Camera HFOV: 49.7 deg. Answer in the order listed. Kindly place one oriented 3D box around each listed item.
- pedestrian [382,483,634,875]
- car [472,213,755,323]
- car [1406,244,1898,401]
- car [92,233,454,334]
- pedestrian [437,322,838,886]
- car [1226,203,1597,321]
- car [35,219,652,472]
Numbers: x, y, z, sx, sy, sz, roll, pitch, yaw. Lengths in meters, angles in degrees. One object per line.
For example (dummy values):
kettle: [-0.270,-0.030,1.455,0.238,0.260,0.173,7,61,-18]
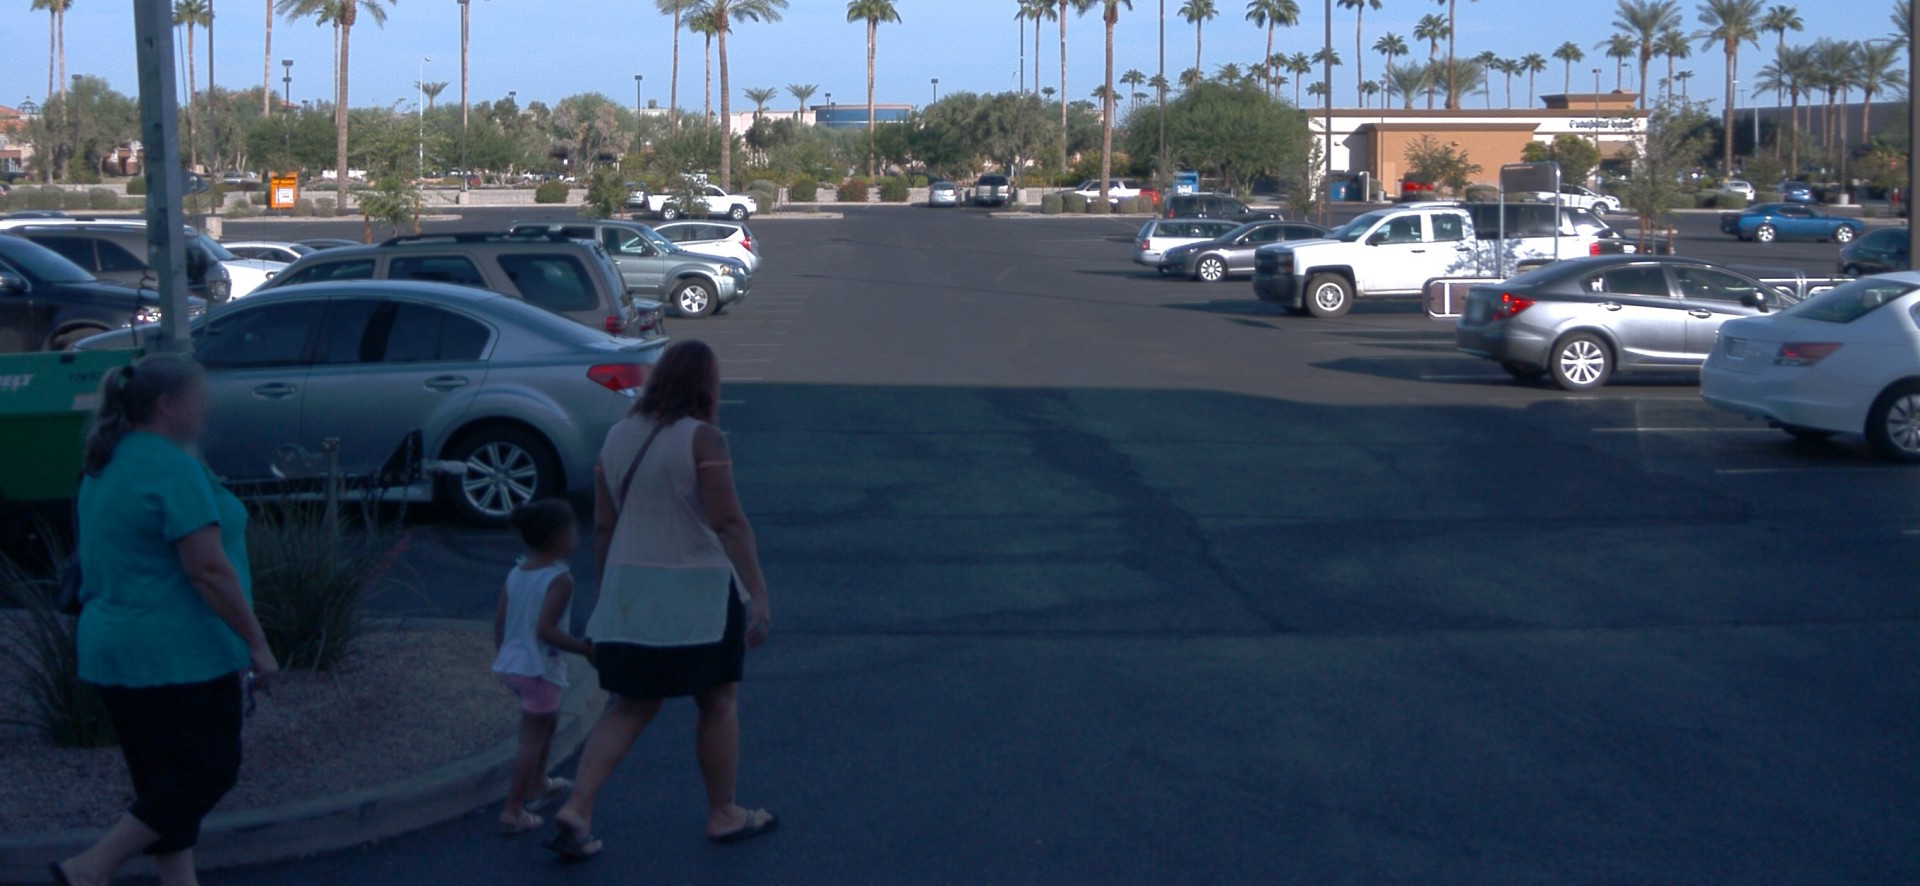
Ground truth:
pedestrian: [-1.466,0.736,6.777,0.562,1.108,0.592,1,3,23]
car: [-5.897,-3.037,35.716,4.496,1.814,2.046,0,4,1]
car: [7.466,-1.369,22.680,4.616,1.554,2.213,-1,5,-6]
car: [-10.717,-2.536,32.637,4.969,1.484,2.237,0,5,-2]
pedestrian: [-1.003,0.494,6.541,0.840,1.676,0.920,2,3,36]
car: [7.774,-3.186,36.019,5.889,1.943,2.294,-1,4,-6]
car: [-4.654,-0.833,16.251,4.313,1.804,1.994,-1,4,-5]
